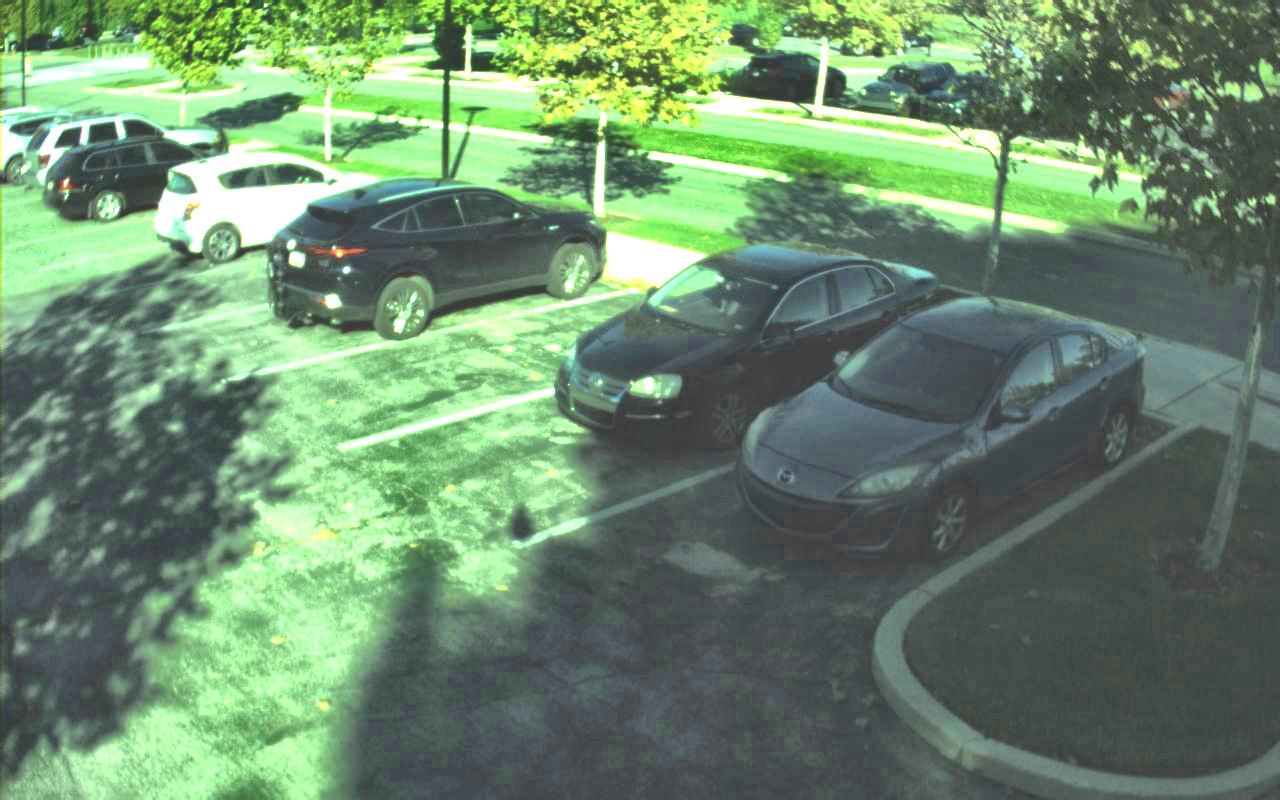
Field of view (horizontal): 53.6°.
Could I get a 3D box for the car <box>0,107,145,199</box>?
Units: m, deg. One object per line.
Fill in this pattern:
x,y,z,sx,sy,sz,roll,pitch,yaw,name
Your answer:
-14.842,-6.208,28.355,4.484,1.676,1.956,-15,21,-40,car

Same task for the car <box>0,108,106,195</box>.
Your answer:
-16.772,-6.677,29.925,4.546,1.677,1.974,-15,21,-39,car

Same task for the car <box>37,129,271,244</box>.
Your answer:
-9.648,-4.240,23.003,4.474,1.557,1.935,-15,21,-38,car

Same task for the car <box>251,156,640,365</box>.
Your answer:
-2.340,-1.912,15.570,1.981,1.730,4.651,14,22,42,car

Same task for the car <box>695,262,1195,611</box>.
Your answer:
2.743,0.034,10.104,4.477,1.522,1.930,-15,21,-38,car

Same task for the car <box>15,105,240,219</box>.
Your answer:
-11.170,-5.172,24.966,4.778,1.777,2.033,-15,21,-39,car

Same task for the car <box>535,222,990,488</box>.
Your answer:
1.362,-0.646,12.314,4.425,1.527,1.919,-14,21,-38,car

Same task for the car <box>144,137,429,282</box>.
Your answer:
-5.758,-3.170,19.644,4.348,1.647,1.918,-15,21,-39,car
